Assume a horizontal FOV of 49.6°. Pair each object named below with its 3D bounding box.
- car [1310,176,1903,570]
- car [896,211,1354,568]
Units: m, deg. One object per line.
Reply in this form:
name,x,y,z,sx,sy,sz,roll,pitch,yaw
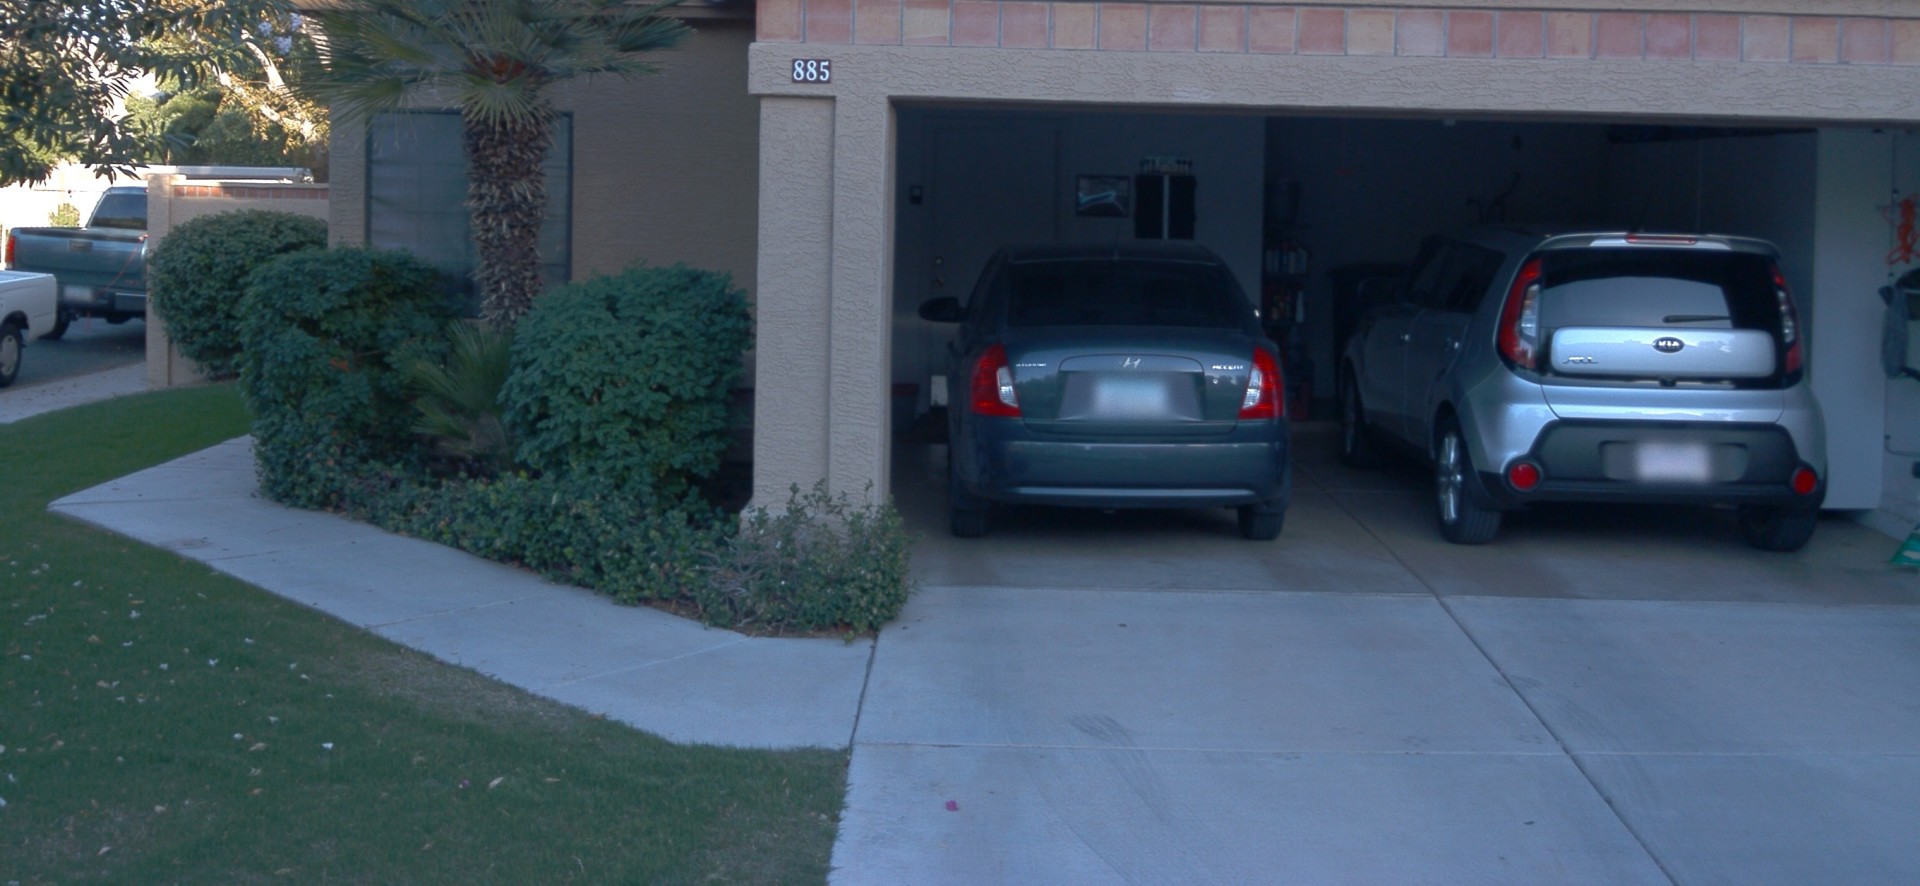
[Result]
car,3.345,-0.523,11.697,2.074,1.794,4.124,1,5,0
car,0.763,-0.454,11.558,2.043,1.574,4.394,1,5,0
